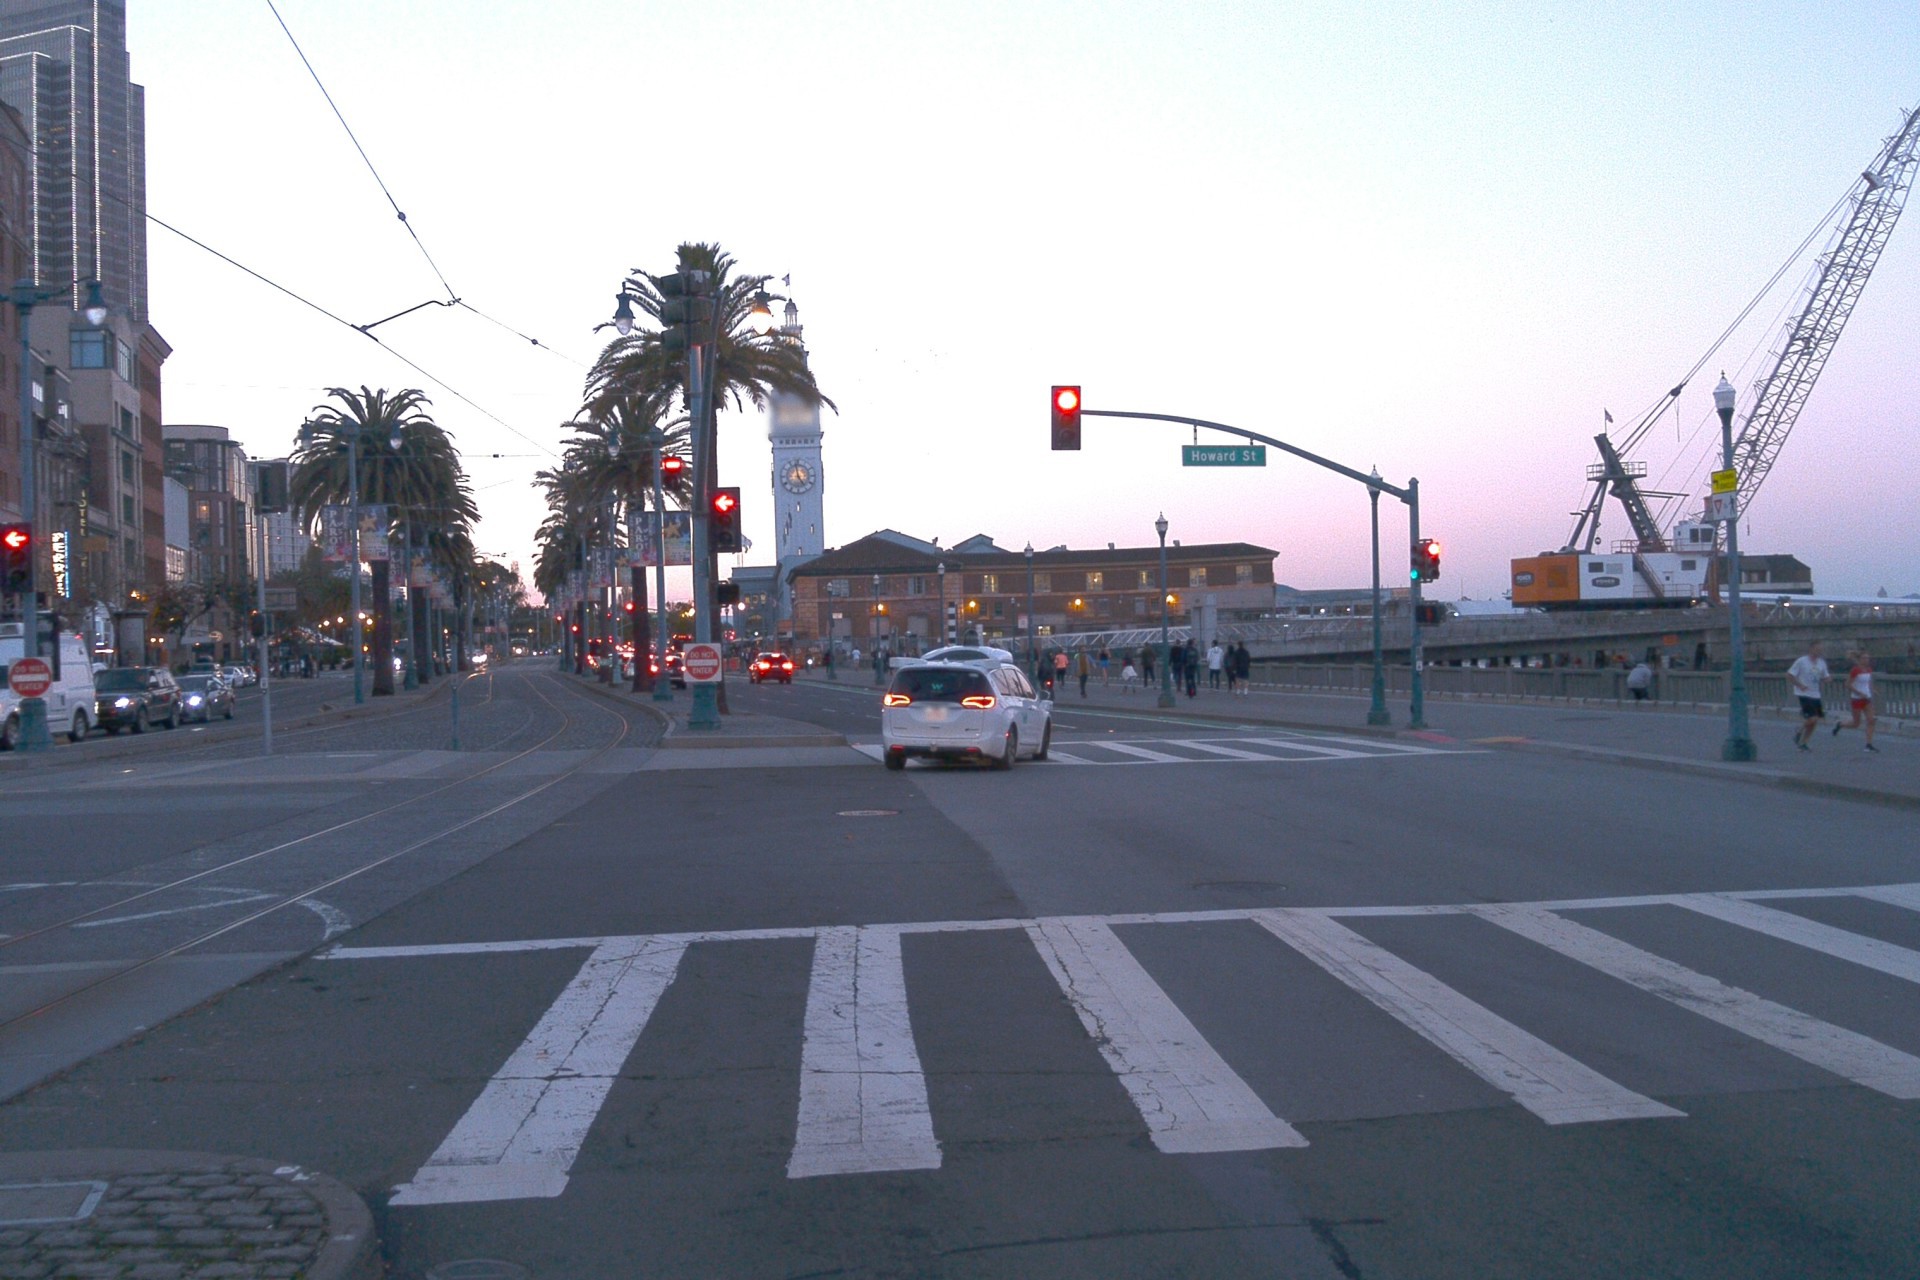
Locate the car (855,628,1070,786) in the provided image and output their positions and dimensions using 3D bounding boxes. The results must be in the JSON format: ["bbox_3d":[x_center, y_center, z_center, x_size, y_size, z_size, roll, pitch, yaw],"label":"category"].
[{"bbox_3d":[0.155,1.022,33.916,2.408,2.360,5.135,0,0,13],"label":"car"}]

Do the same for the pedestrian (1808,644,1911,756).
[{"bbox_3d":[14.550,0.961,33.506,1.020,1.770,1.145,1,0,-12],"label":"pedestrian"}]

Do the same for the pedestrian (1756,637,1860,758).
[{"bbox_3d":[13.648,0.914,33.341,1.012,1.910,1.200,0,0,-12],"label":"pedestrian"}]
